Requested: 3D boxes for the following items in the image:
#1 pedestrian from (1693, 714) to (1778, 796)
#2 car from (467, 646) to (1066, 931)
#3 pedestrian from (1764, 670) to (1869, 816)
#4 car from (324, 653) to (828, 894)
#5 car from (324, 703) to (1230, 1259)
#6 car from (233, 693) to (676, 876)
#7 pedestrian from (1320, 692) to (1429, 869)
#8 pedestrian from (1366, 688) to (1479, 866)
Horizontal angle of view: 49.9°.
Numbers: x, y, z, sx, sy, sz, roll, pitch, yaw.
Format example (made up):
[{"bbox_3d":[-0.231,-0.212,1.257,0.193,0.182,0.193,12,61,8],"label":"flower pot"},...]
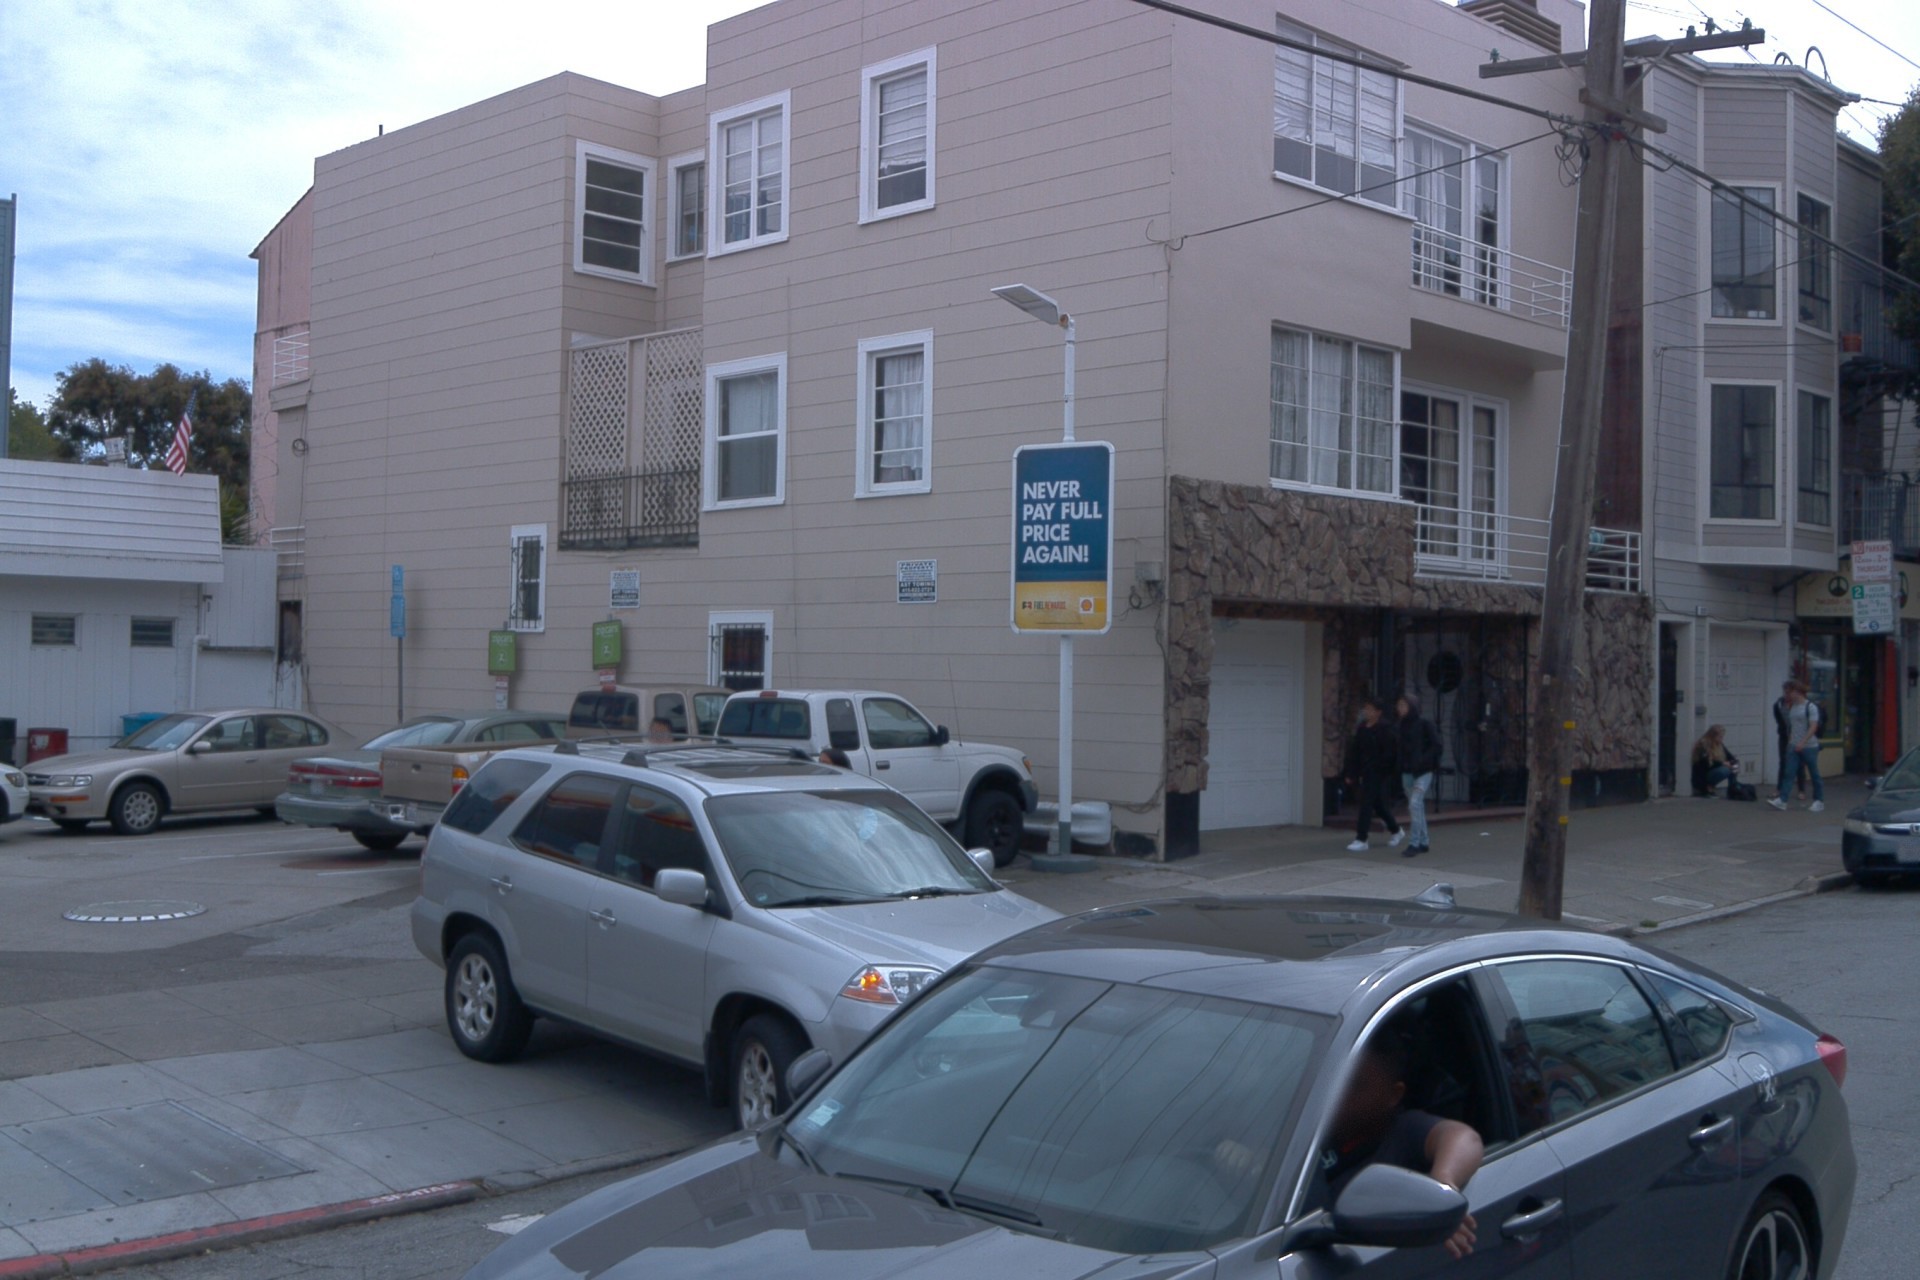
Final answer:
[{"bbox_3d":[10.286,1.515,27.373,0.723,1.010,0.815,-1,1,-44],"label":"pedestrian"},{"bbox_3d":[-1.581,1.157,18.572,2.174,2.100,5.192,1,1,44],"label":"car"},{"bbox_3d":[10.705,1.269,25.805,0.940,1.750,0.794,-1,1,-29],"label":"pedestrian"},{"bbox_3d":[-3.573,1.149,19.739,4.381,1.940,1.937,-1,1,-43],"label":"car"},{"bbox_3d":[-1.157,1.422,10.625,2.242,1.950,4.721,-1,1,-42],"label":"car"},{"bbox_3d":[-5.159,1.405,21.370,4.032,1.520,1.928,-1,1,-44],"label":"car"},{"bbox_3d":[4.224,1.409,21.045,0.866,1.706,0.708,-1,1,-41],"label":"pedestrian"},{"bbox_3d":[4.601,1.335,20.511,1.037,1.673,0.608,-1,1,-42],"label":"pedestrian"}]
